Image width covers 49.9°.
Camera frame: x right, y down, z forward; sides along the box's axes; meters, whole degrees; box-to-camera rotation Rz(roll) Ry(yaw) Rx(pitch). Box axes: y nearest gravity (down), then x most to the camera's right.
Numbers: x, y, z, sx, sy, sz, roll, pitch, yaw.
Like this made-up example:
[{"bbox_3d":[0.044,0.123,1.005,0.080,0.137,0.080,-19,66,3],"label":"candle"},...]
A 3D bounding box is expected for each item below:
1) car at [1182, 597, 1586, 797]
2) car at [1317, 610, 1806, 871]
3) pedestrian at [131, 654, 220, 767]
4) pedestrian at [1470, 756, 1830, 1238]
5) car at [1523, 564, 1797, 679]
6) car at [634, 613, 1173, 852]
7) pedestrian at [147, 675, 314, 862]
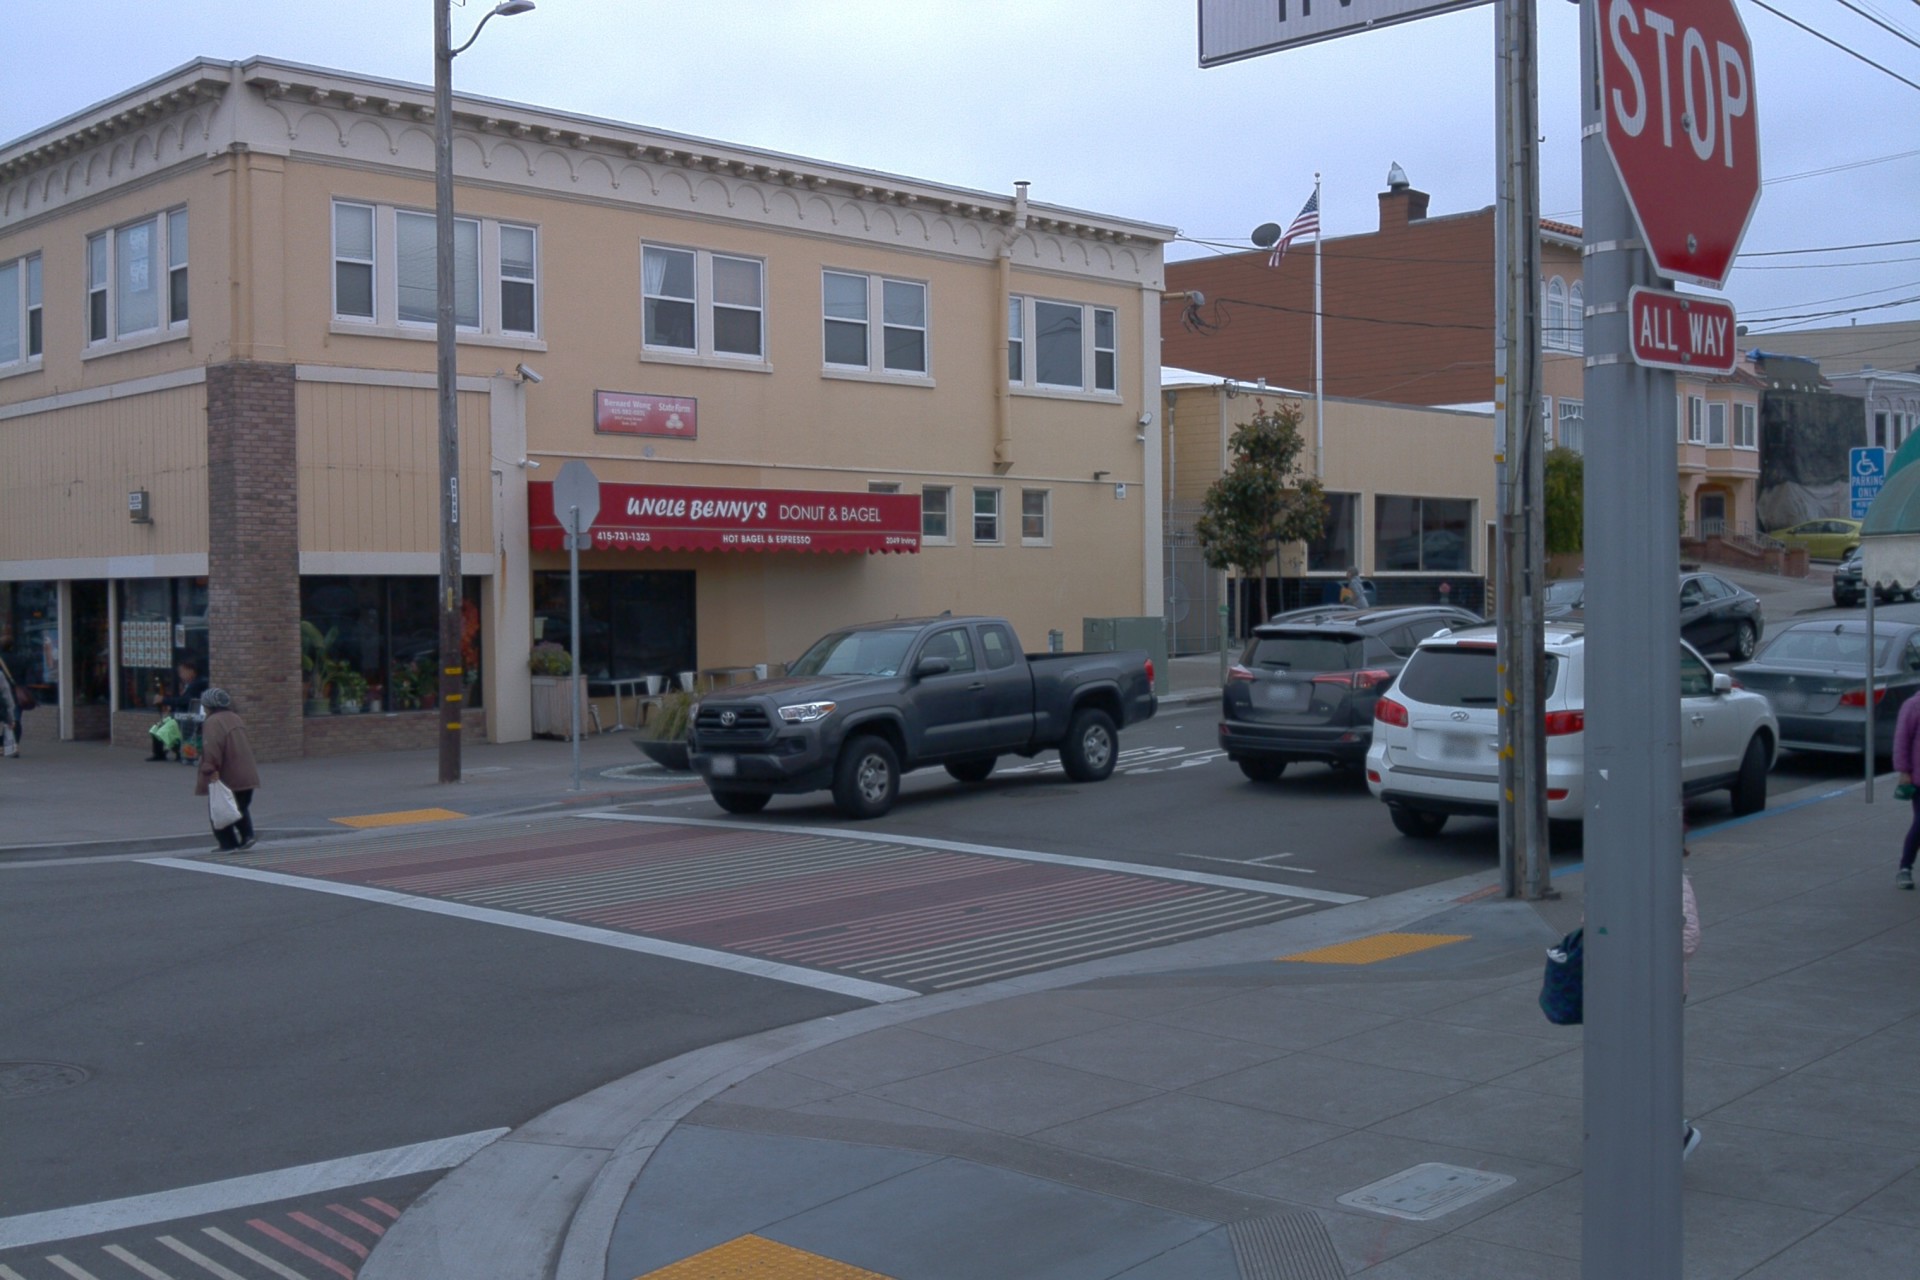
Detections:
[{"bbox_3d":[4.300,0.482,20.484,1.922,1.760,4.392,1,1,43],"label":"car"},{"bbox_3d":[5.060,0.686,16.978,2.119,1.840,4.511,0,1,42],"label":"car"},{"bbox_3d":[-9.879,0.873,26.017,0.878,1.374,0.735,1,1,44],"label":"pedestrian"},{"bbox_3d":[2.342,1.172,7.121,0.850,1.479,0.910,0,1,-8],"label":"pedestrian"},{"bbox_3d":[10.911,-0.290,31.991,2.082,1.644,4.864,1,1,45],"label":"car"},{"bbox_3d":[-0.372,0.751,20.054,2.075,2.008,5.437,0,1,42],"label":"car"},{"bbox_3d":[-6.103,1.053,17.330,0.833,1.477,1.065,0,1,20],"label":"pedestrian"}]
